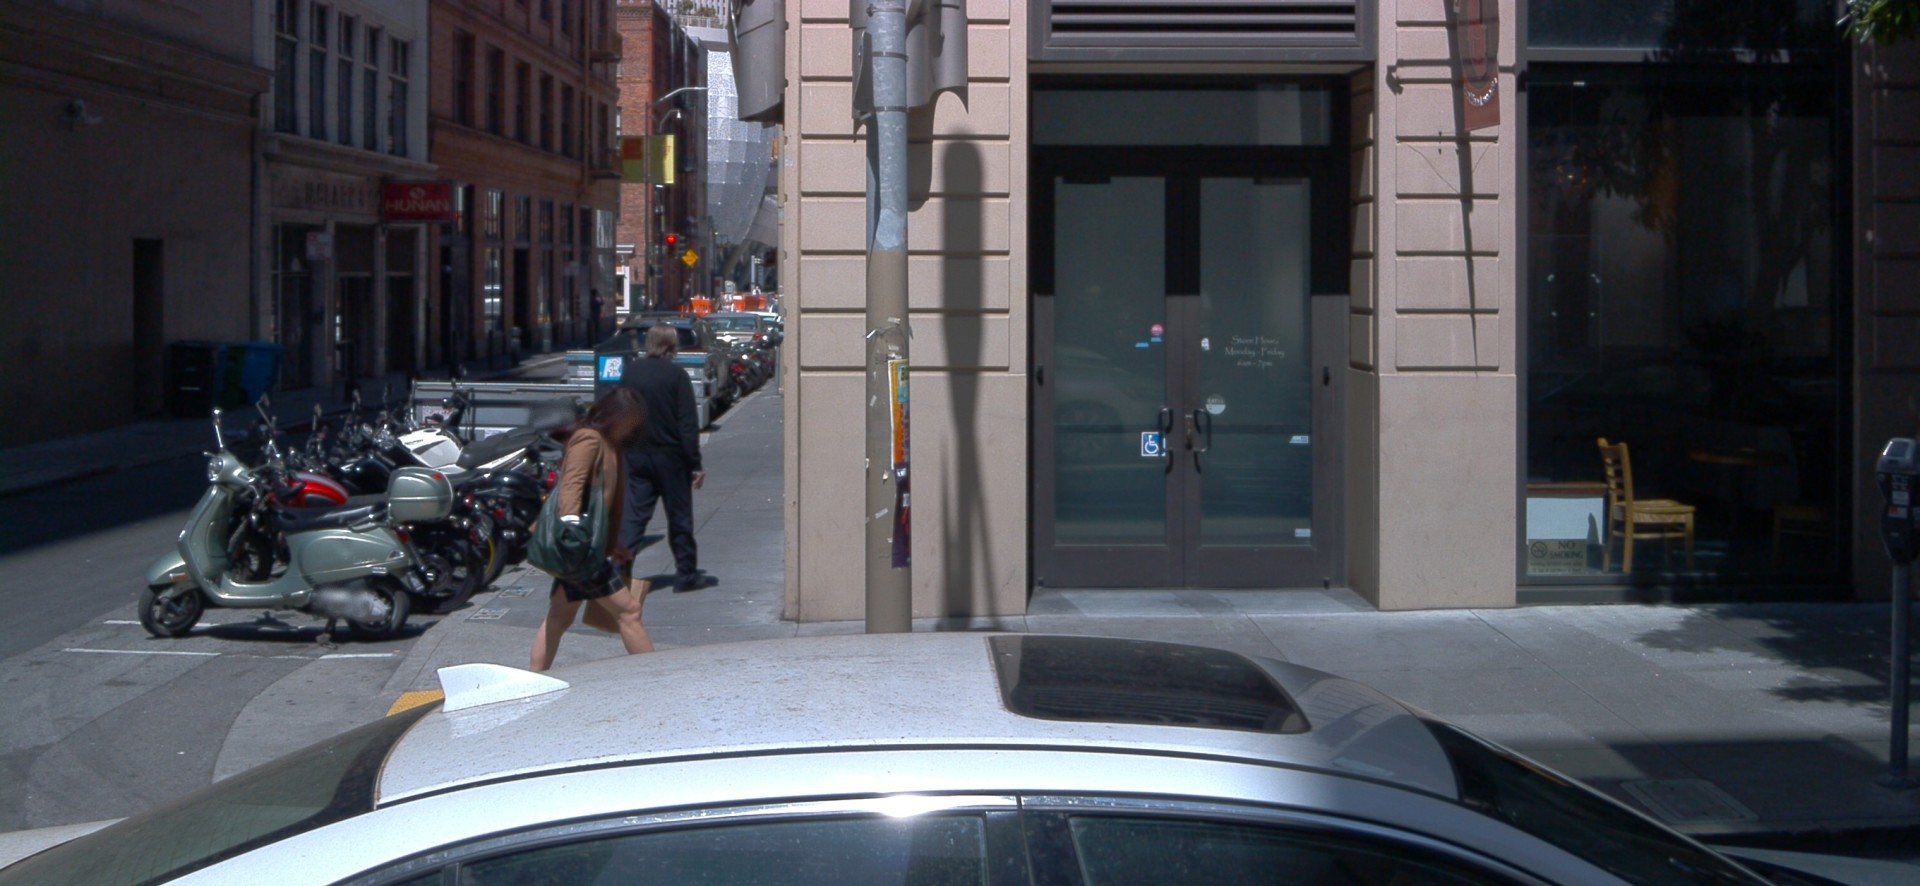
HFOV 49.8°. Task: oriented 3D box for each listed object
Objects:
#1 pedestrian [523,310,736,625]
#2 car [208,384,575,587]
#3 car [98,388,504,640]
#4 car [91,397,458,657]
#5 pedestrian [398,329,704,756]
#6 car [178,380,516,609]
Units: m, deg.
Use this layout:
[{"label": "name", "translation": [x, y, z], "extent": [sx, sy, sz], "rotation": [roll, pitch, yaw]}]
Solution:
[{"label": "pedestrian", "translation": [-2.113, 0.107, 13.350], "extent": [0.893, 1.861, 1.147], "rotation": [0, 3, 20]}, {"label": "car", "translation": [-4.263, 0.294, 15.698], "extent": [2.496, 1.361, 1.072], "rotation": [-1, 3, -3]}, {"label": "car", "translation": [-4.240, 0.435, 13.446], "extent": [2.369, 1.480, 0.821], "rotation": [-1, 2, -3]}, {"label": "car", "translation": [-4.161, 0.488, 12.667], "extent": [1.974, 1.437, 0.810], "rotation": [-1, 2, -3]}, {"label": "pedestrian", "translation": [-1.913, 0.423, 9.861], "extent": [1.222, 1.861, 1.051], "rotation": [-1, 2, 1]}, {"label": "car", "translation": [-4.266, 0.337, 14.514], "extent": [2.121, 1.462, 0.827], "rotation": [-1, 2, -3]}]
